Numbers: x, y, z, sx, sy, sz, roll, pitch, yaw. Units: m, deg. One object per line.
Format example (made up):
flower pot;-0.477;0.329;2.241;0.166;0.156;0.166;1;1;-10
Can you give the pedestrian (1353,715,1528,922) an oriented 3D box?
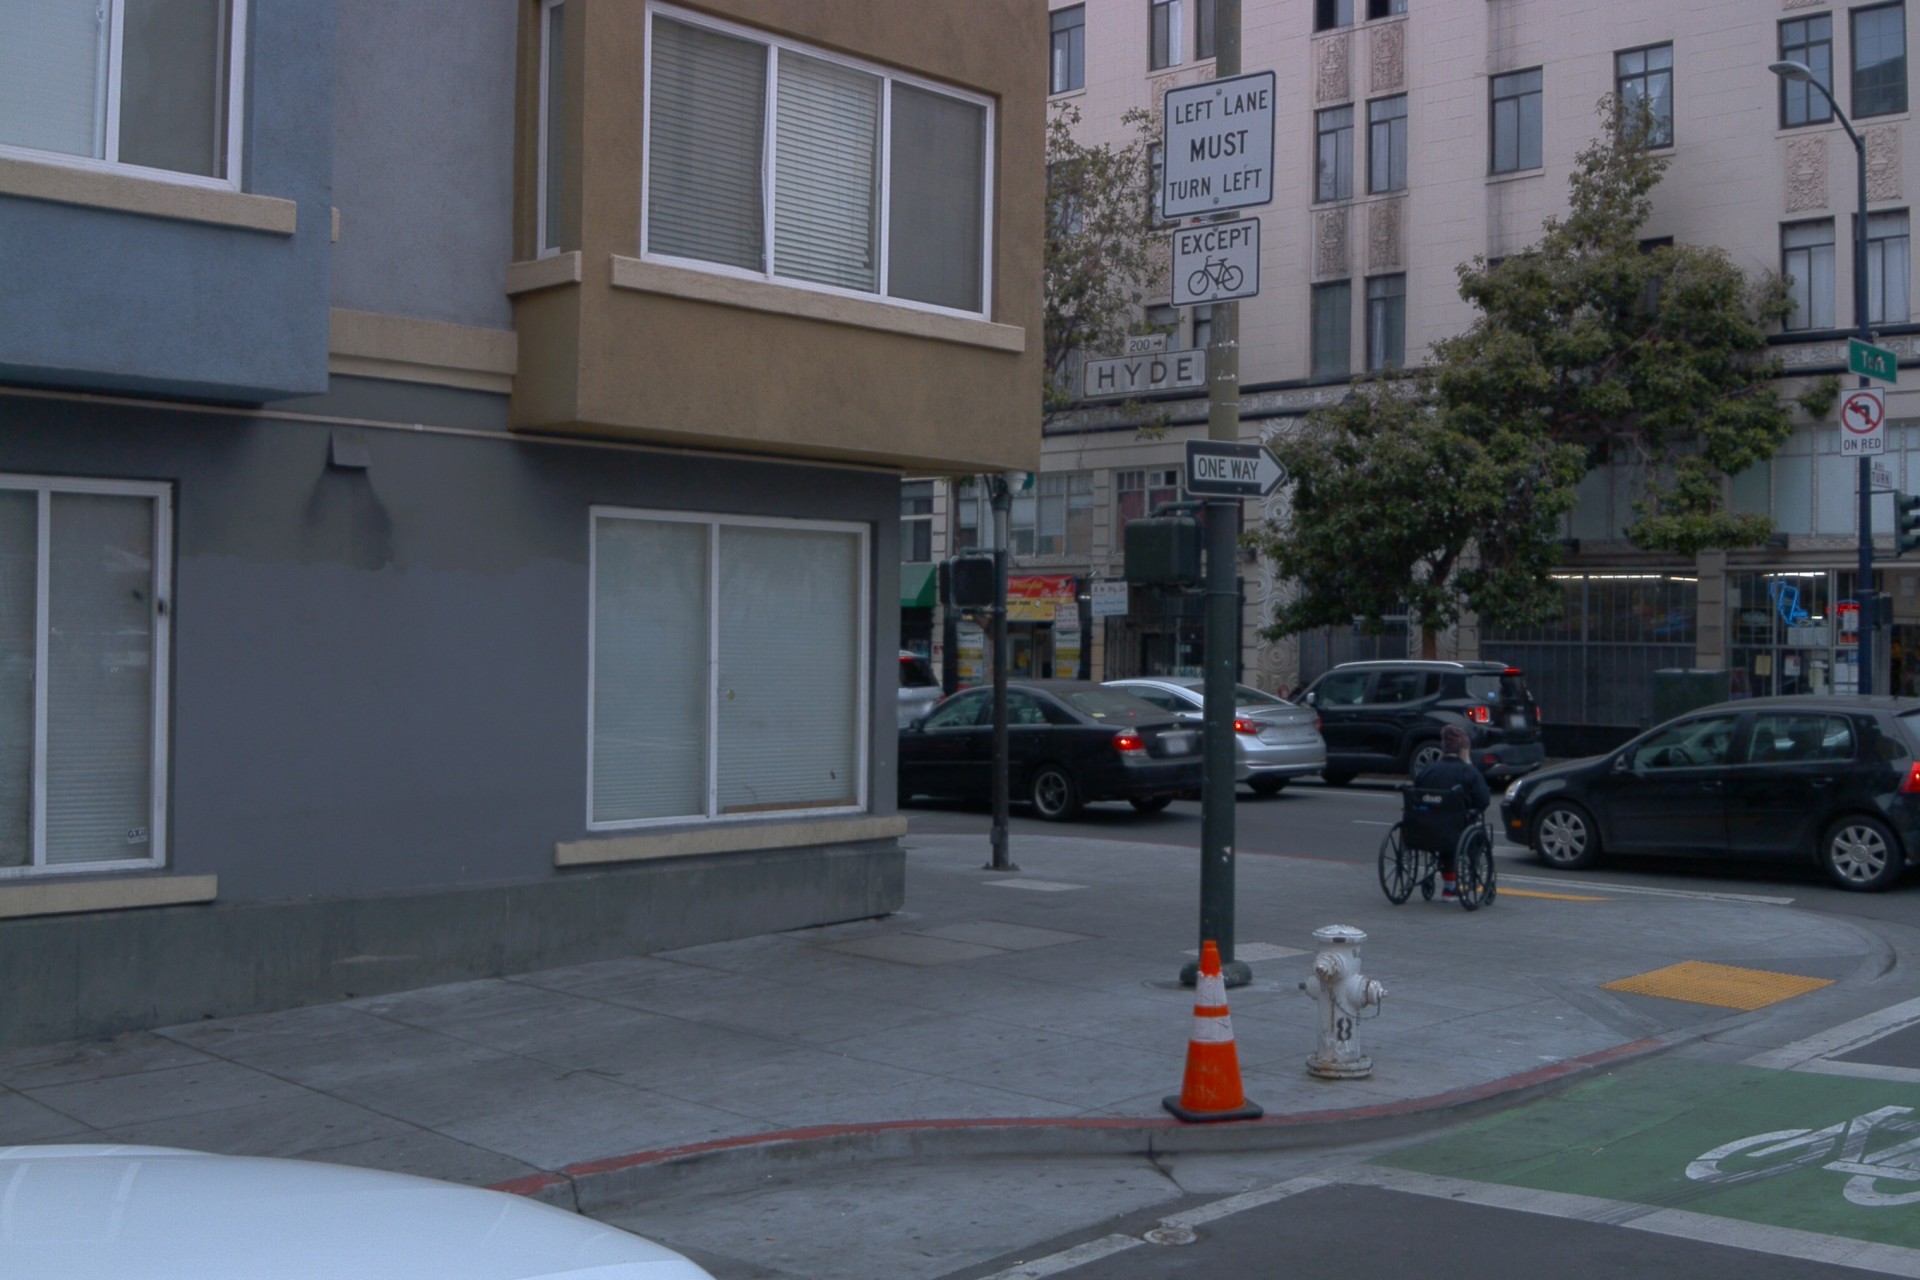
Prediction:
pedestrian;3.503;1.265;15.016;0.883;1.370;1.026;1;1;38

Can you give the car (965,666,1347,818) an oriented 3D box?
car;2.369;1.196;25.883;1.939;1.600;4.599;-1;1;-44

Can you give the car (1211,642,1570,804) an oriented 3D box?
car;5.562;1.004;27.022;1.925;1.870;4.231;-1;1;-45

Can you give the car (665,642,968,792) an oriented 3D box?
car;-2.195;1.059;30.640;2.026;1.970;4.585;-1;1;-44

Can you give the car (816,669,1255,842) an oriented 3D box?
car;0.754;1.201;23.285;4.803;1.600;2.070;1;1;44
